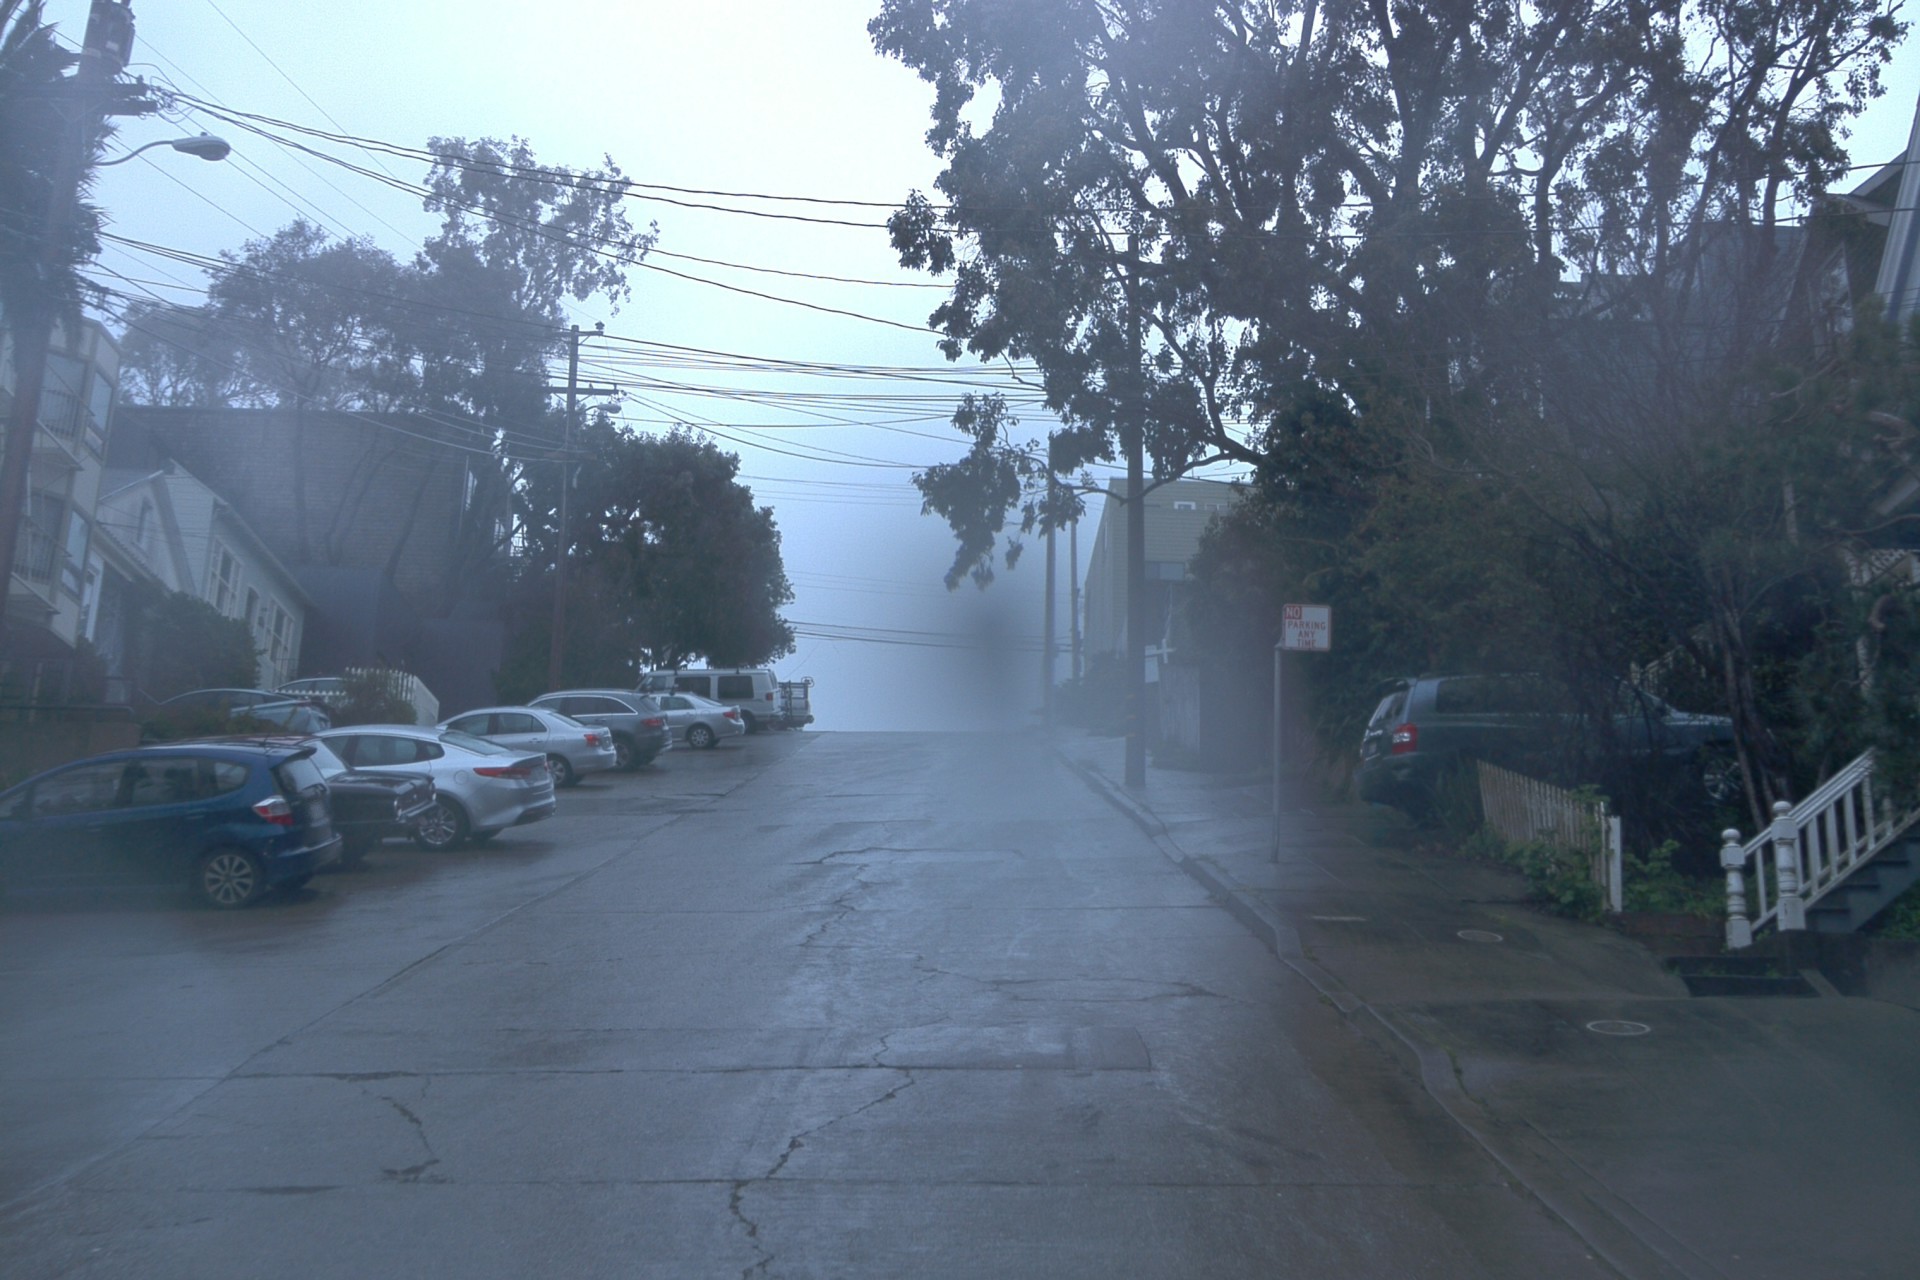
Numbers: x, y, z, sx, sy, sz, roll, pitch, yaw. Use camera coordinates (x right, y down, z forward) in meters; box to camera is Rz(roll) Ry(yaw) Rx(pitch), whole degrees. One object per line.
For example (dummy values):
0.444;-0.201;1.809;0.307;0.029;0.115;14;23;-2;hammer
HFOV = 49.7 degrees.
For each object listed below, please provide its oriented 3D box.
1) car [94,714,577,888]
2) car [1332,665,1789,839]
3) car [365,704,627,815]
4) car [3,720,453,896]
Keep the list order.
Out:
-7.367;1.867;24.773;5.068;1.890;2.226;0;0;5;car
6.611;1.203;23.124;4.464;1.836;2.040;0;0;-4;car
-8.148;2.085;36.631;4.171;1.850;2.003;0;0;1;car
-7.772;1.767;22.310;4.162;1.750;1.971;0;0;0;car
